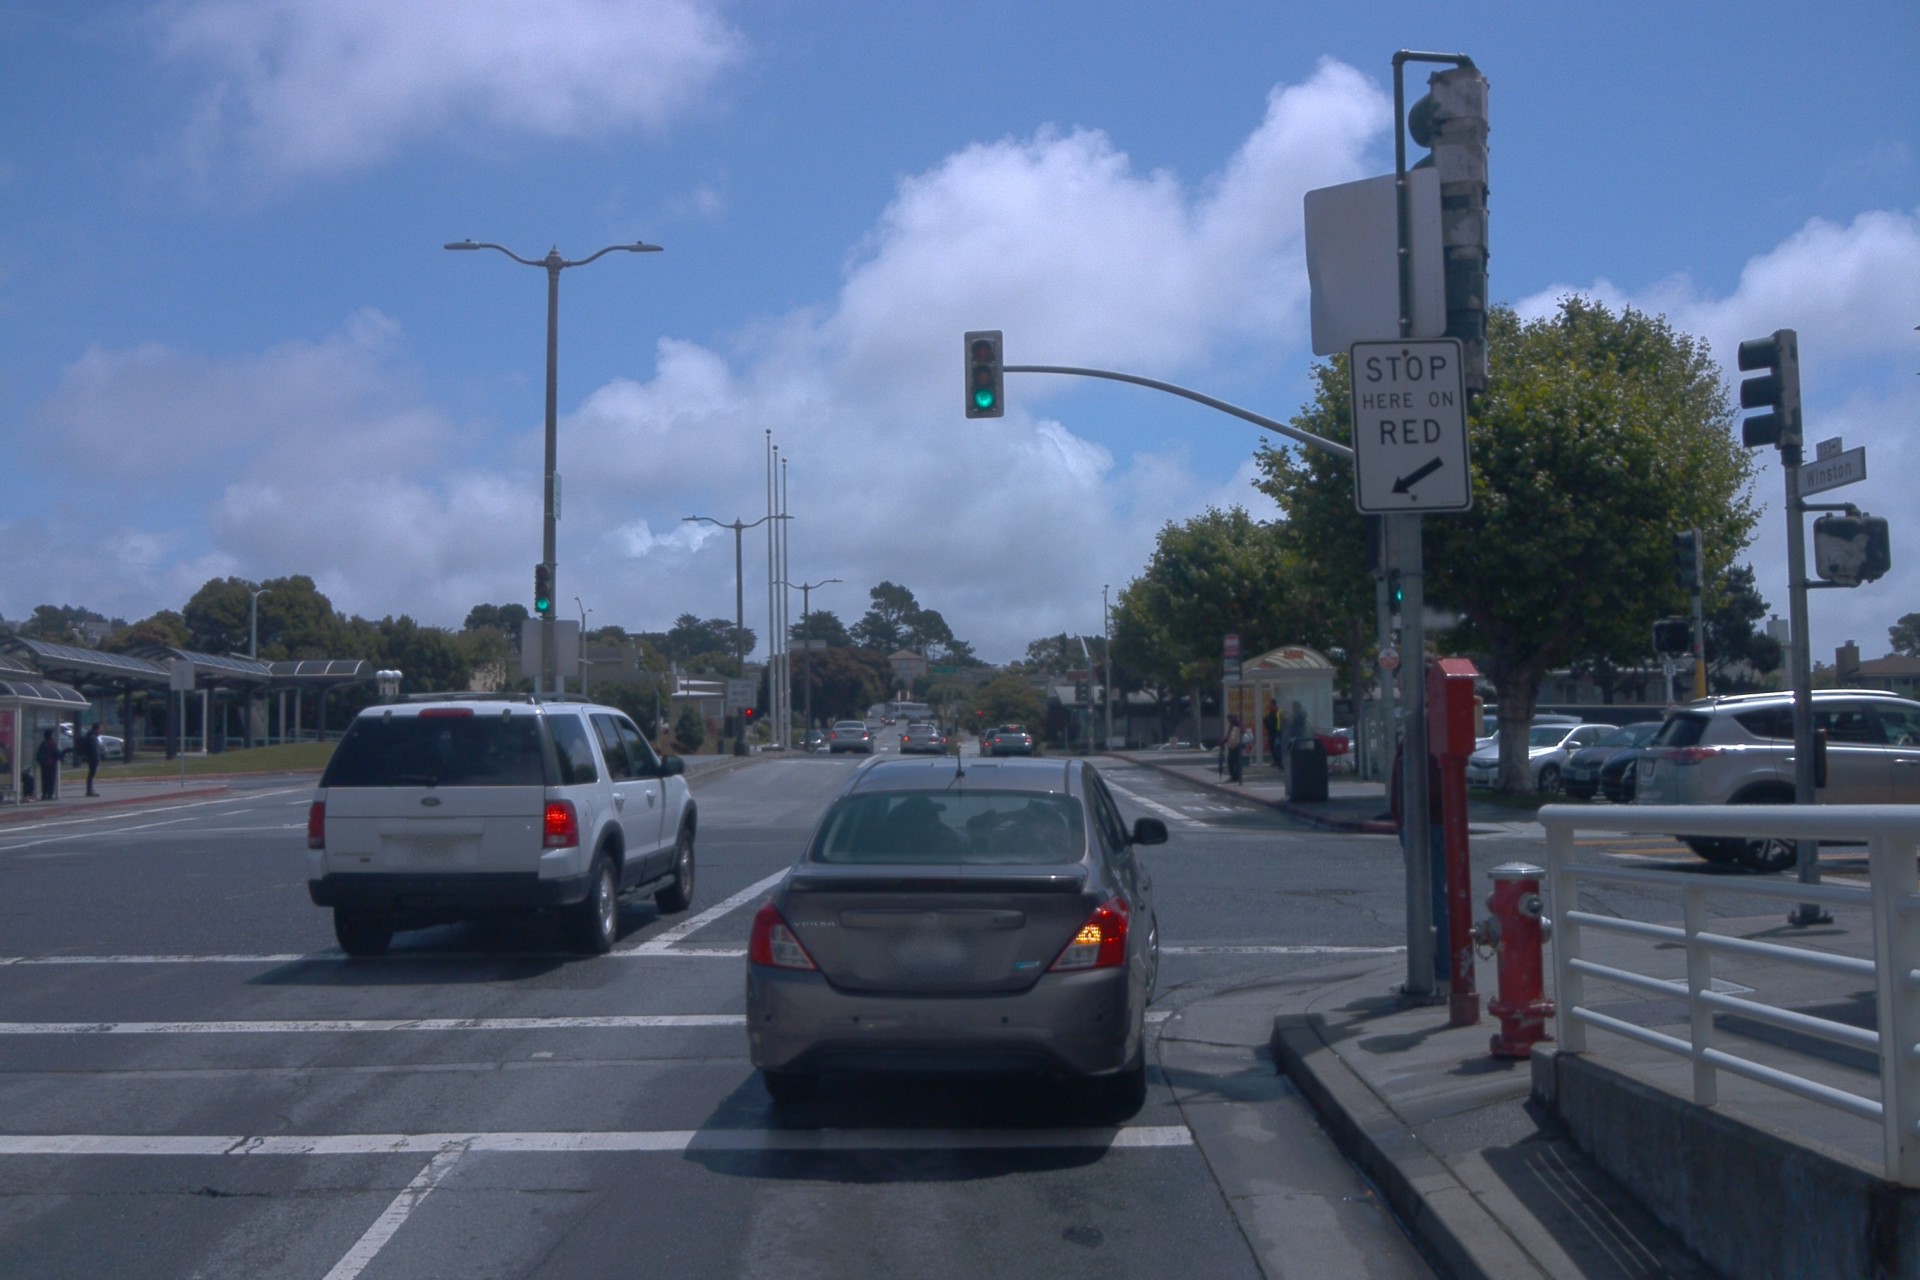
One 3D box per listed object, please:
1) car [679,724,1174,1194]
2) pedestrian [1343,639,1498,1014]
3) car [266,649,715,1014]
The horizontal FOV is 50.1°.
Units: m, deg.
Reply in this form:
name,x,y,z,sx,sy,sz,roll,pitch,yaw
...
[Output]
name,x,y,z,sx,sy,sz,roll,pitch,yaw
car,0.071,1.318,10.121,1.942,1.580,4.226,0,1,6
pedestrian,2.441,0.956,10.963,0.595,1.910,0.830,0,1,-3
car,-3.223,1.208,15.213,2.037,2.200,4.660,0,1,3
